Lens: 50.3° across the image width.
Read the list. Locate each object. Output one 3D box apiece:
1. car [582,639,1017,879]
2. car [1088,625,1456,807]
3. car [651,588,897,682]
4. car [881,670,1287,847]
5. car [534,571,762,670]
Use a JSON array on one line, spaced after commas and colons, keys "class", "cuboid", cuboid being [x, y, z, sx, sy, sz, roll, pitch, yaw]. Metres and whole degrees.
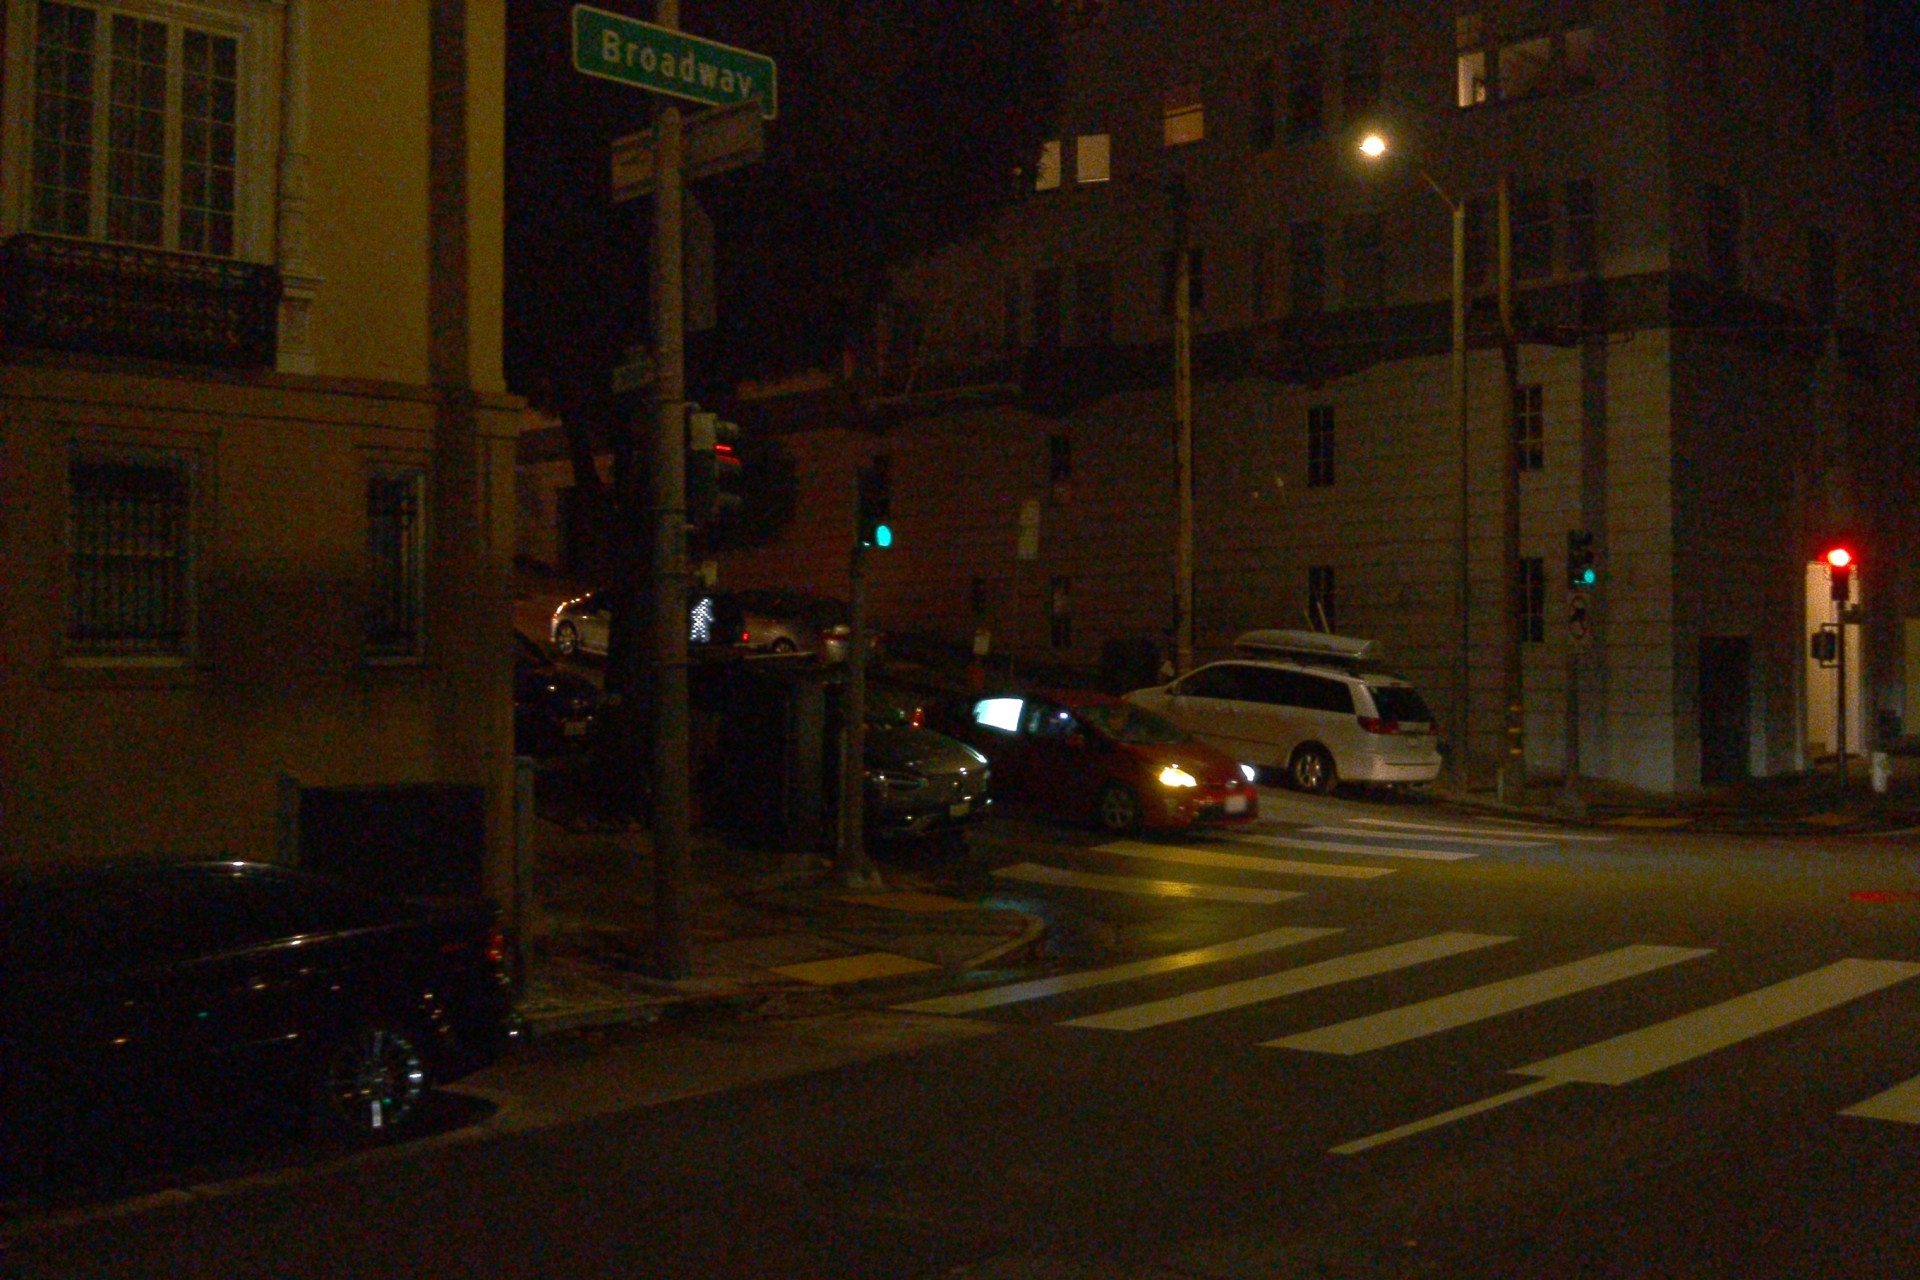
[{"class": "car", "cuboid": [-1.871, 1.167, 22.535, 2.195, 2.290, 4.784, 0, 1, -44]}, {"class": "car", "cuboid": [4.468, 1.006, 29.848, 4.904, 2.388, 2.213, 1, 1, 44]}, {"class": "car", "cuboid": [-3.468, -0.112, 37.575, 4.539, 1.626, 1.925, 1, 1, 42]}, {"class": "car", "cuboid": [1.348, 1.278, 23.710, 4.527, 1.730, 1.922, 1, 1, 44]}, {"class": "car", "cuboid": [-5.351, -0.337, 34.841, 3.818, 1.586, 1.850, 1, 1, 43]}]
